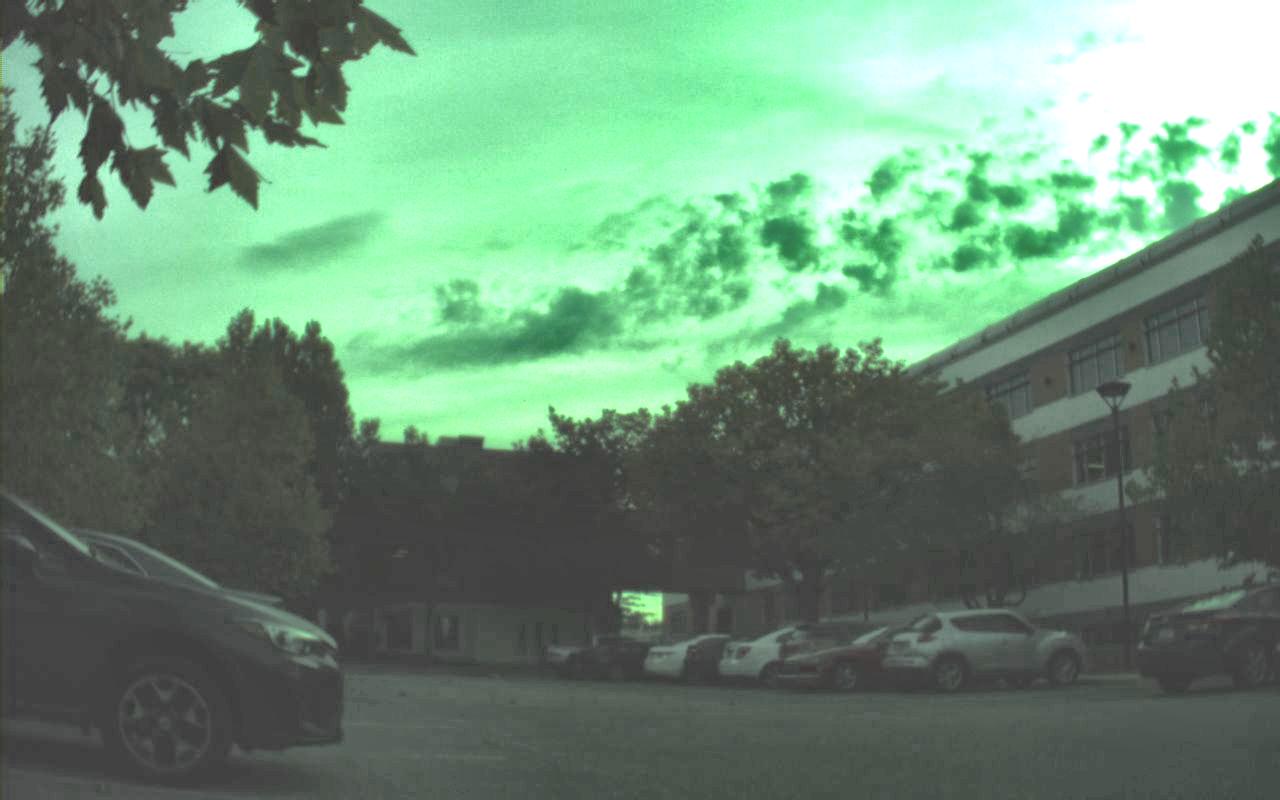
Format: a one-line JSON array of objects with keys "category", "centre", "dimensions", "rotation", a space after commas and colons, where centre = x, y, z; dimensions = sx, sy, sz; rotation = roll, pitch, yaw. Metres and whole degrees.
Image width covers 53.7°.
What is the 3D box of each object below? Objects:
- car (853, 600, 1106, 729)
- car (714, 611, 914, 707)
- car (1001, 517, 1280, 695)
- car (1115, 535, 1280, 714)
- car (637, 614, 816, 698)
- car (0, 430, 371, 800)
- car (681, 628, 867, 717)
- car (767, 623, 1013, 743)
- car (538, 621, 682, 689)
[{"category": "car", "centre": [6.350, 4.895, 22.335], "dimensions": [4.404, 1.667, 1.924], "rotation": [0, 1, -14]}, {"category": "car", "centre": [4.195, 6.267, 29.804], "dimensions": [4.454, 1.688, 1.952], "rotation": [0, 1, -13]}, {"category": "car", "centre": [18.334, 6.998, 41.176], "dimensions": [3.018, 3.708, 16.373], "rotation": [0, 1, -17]}, {"category": "car", "centre": [8.779, 2.998, 15.051], "dimensions": [4.575, 1.645, 1.968], "rotation": [0, 1, -16]}, {"category": "car", "centre": [2.383, 7.142, 34.519], "dimensions": [4.588, 1.719, 1.992], "rotation": [0, 1, -14]}, {"category": "car", "centre": [-3.807, 1.102, 5.901], "dimensions": [4.614, 1.686, 2.014], "rotation": [0, 1, -19]}, {"category": "car", "centre": [3.469, 7.097, 32.043], "dimensions": [4.452, 1.652, 1.951], "rotation": [0, 1, -16]}, {"category": "car", "centre": [5.053, 5.689, 24.527], "dimensions": [4.586, 1.669, 1.976], "rotation": [0, 1, -14]}, {"category": "car", "centre": [-1.162, 9.561, 46.423], "dimensions": [5.019, 1.917, 2.095], "rotation": [0, 1, -17]}]
